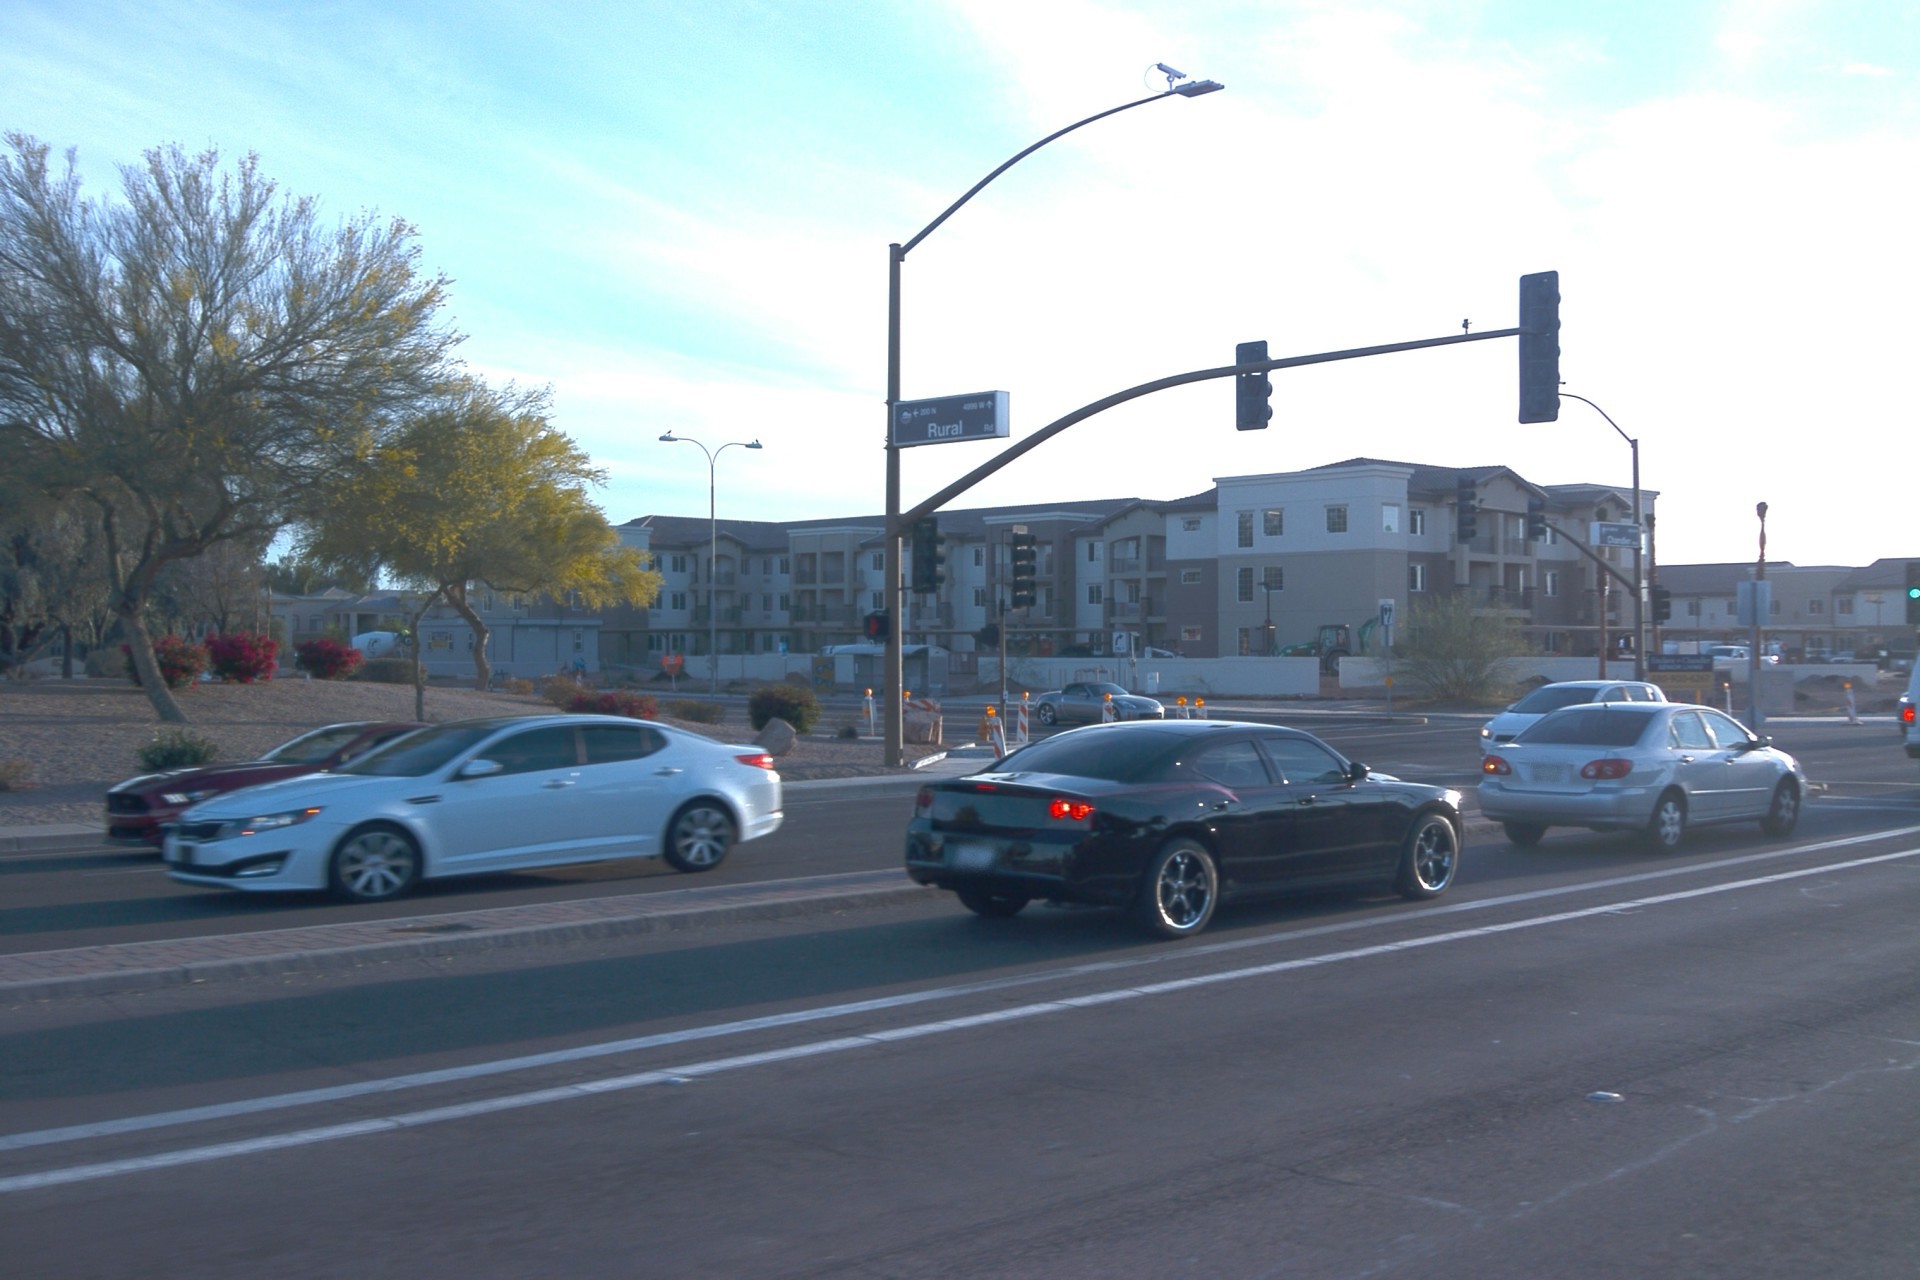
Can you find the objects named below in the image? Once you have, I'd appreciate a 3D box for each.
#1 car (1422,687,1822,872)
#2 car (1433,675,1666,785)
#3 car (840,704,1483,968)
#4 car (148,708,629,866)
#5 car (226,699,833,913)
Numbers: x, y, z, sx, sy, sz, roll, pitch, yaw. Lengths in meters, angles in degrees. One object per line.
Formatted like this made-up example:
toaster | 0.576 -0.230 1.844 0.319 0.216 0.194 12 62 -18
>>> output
car | 6.909 1.334 21.293 4.582 1.610 1.986 1 0 -44
car | 9.758 1.429 34.047 4.026 1.640 1.935 1 0 -44
car | 1.705 1.336 15.776 2.145 1.540 5.089 1 0 45
car | -6.278 1.548 23.072 4.768 1.440 2.038 1 0 -44
car | -3.701 1.351 18.374 4.879 1.520 2.116 1 0 -43
